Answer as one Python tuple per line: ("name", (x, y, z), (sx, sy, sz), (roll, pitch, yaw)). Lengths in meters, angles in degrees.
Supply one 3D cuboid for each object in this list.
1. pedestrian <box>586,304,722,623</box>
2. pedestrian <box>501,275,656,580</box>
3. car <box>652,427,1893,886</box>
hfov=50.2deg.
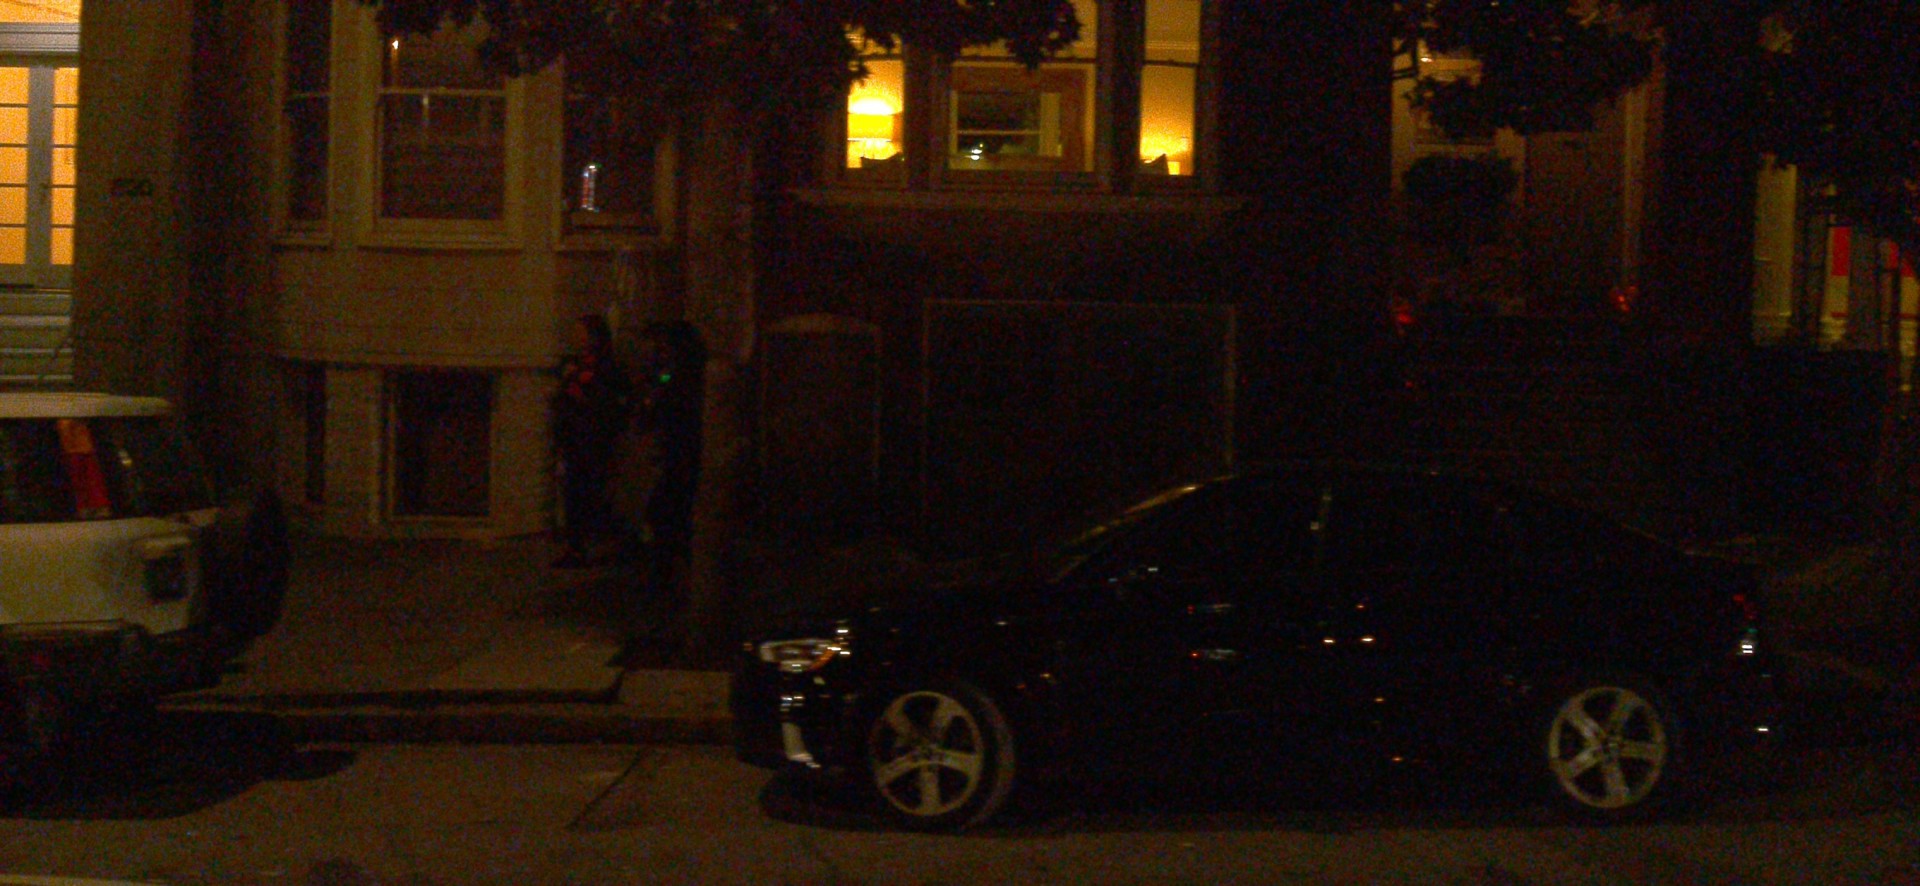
("pedestrian", (-1.797, 0.094, 12.112), (0.663, 1.795, 0.715), (0, 3, 1))
("pedestrian", (-2.443, -0.124, 13.188), (0.824, 1.875, 0.780), (0, 3, 1))
("car", (1.159, 0.794, 8.661), (4.674, 1.453, 2.015), (-1, 5, -3))
